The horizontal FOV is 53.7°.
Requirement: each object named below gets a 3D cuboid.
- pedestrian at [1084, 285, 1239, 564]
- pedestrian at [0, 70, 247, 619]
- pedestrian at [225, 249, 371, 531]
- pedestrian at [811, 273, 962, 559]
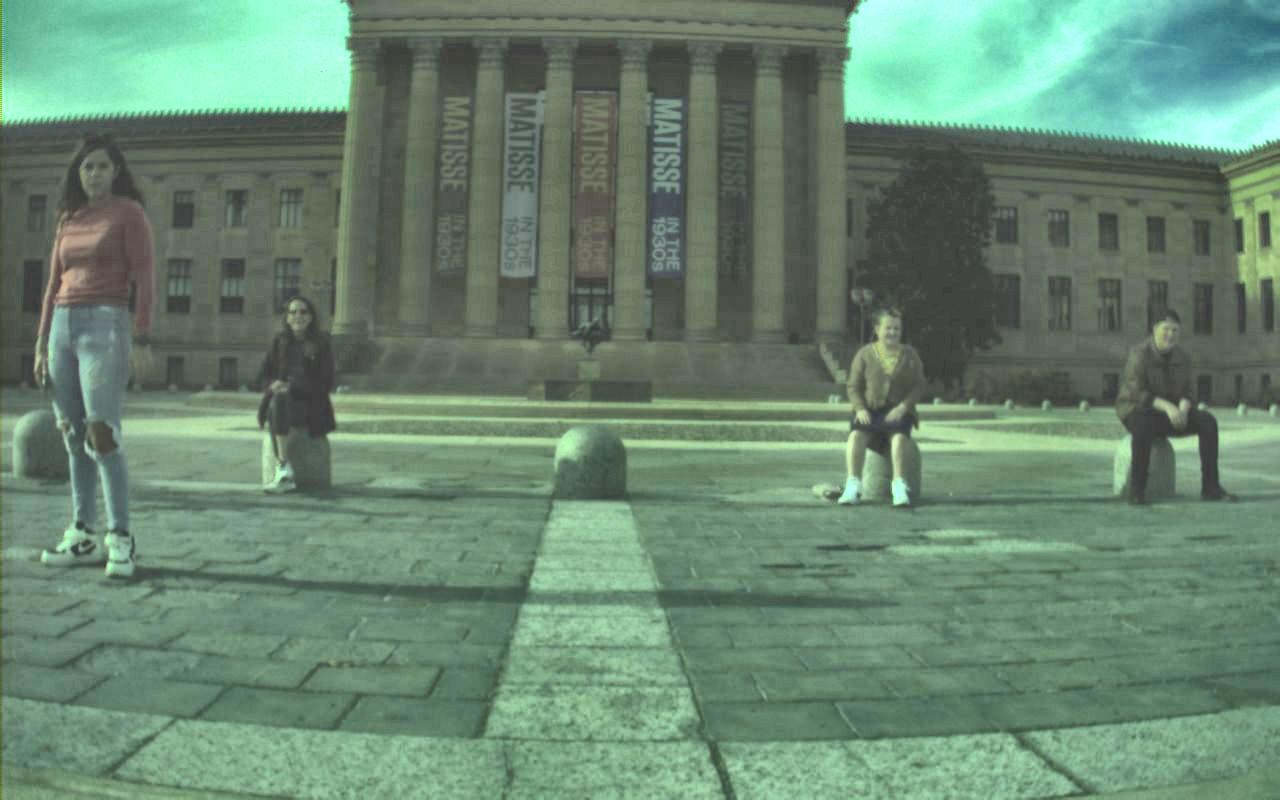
[{"bbox_3d":[3.491,0.167,7.867,0.853,1.768,0.864,0,0,6],"label":"pedestrian"},{"bbox_3d":[-1.966,-0.187,4.185,0.770,1.792,0.782,0,0,15],"label":"pedestrian"},{"bbox_3d":[-2.169,-0.065,7.752,0.775,1.691,0.784,0,0,0],"label":"pedestrian"},{"bbox_3d":[1.558,0.096,7.935,0.794,1.728,0.800,0,0,-2],"label":"pedestrian"}]
